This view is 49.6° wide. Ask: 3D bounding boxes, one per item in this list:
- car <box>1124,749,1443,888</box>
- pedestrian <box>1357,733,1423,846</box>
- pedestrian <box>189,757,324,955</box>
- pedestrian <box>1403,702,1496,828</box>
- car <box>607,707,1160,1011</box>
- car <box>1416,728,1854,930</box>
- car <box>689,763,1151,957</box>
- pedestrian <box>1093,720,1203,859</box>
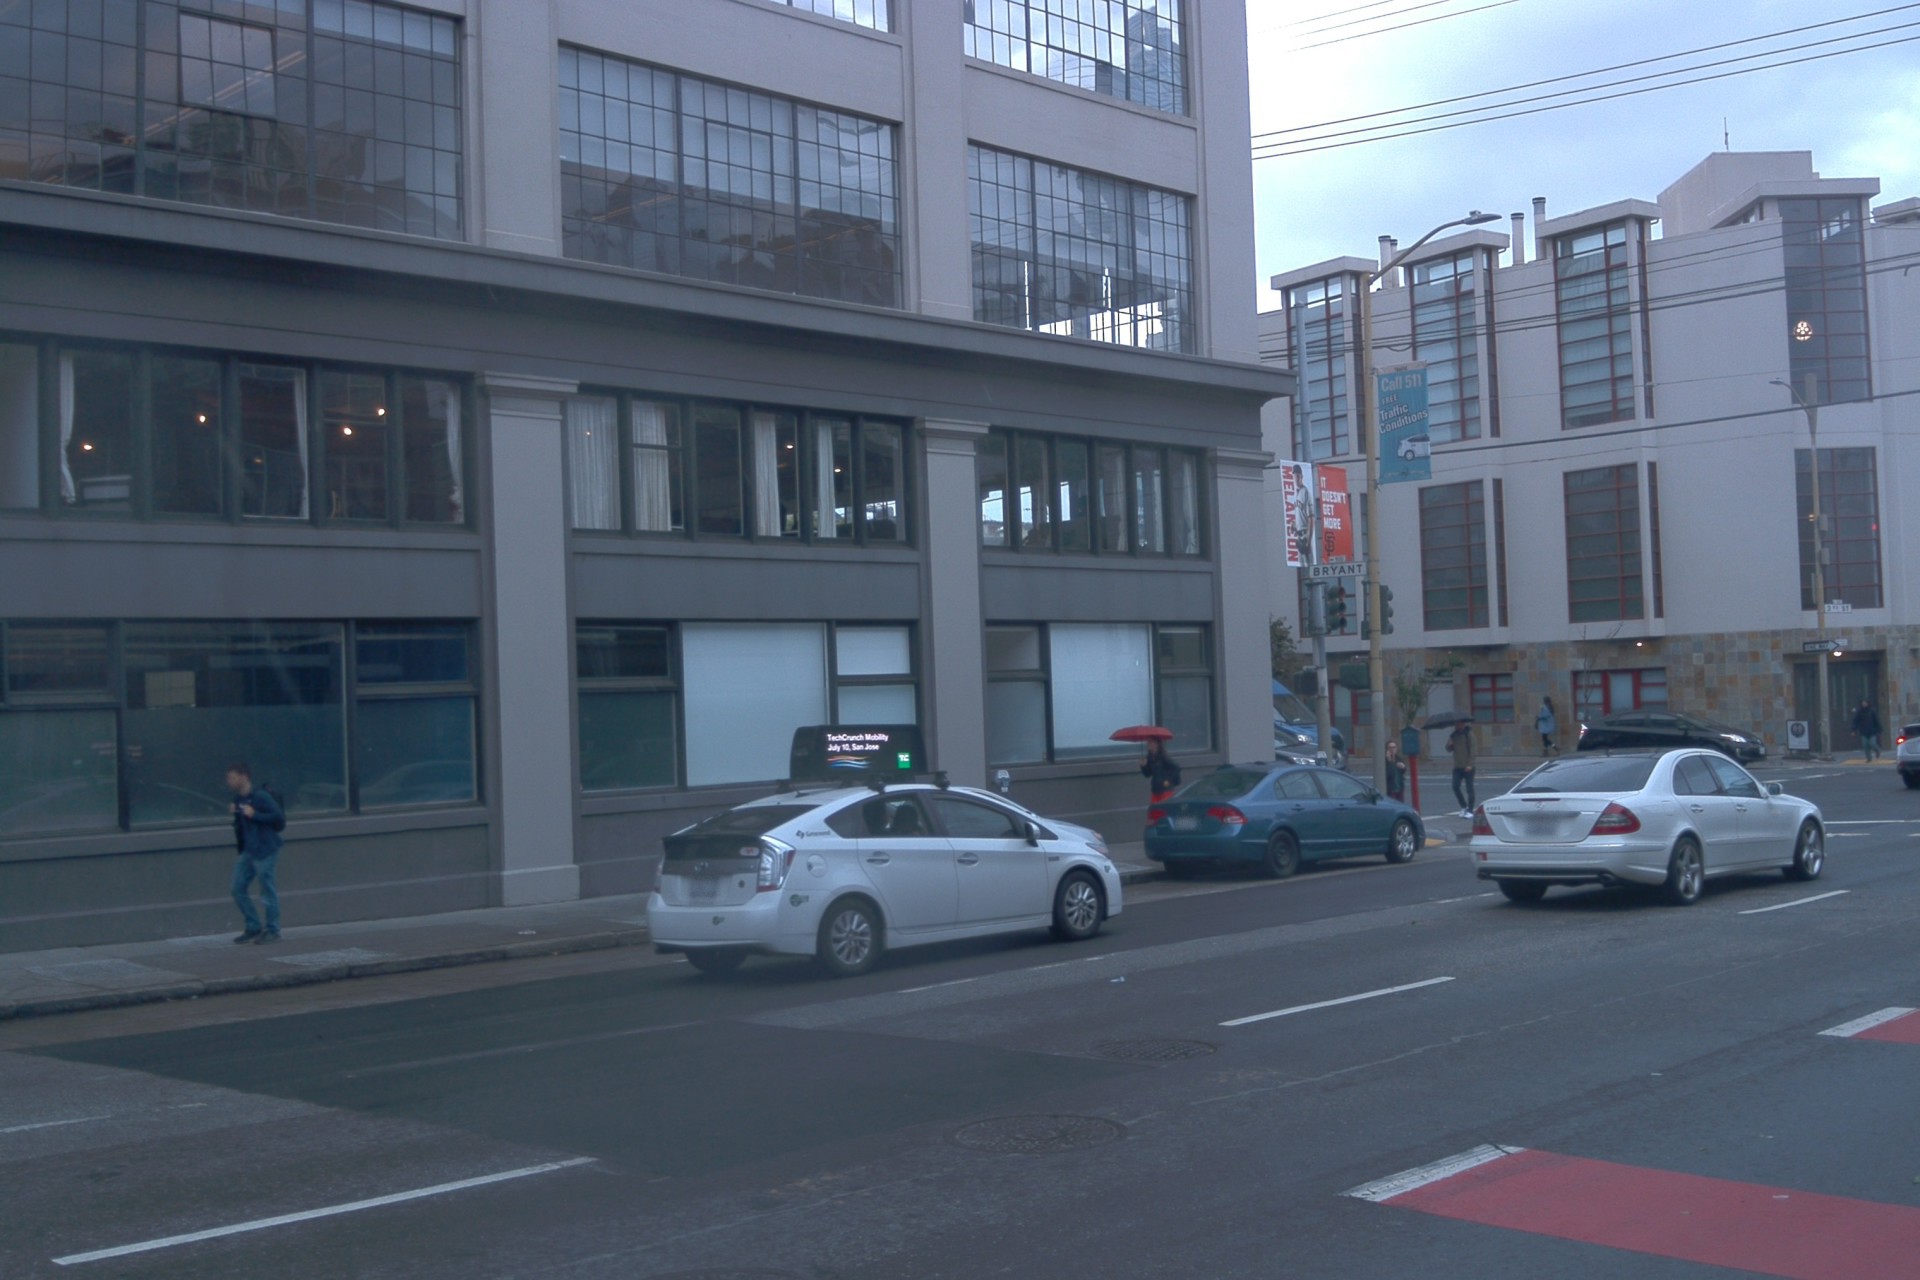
[{"bbox_3d":[4.306,2.264,27.260,1.913,1.440,4.430,0,0,44],"label":"car"},{"bbox_3d":[6.600,2.285,31.900,0.825,1.670,0.591,0,0,-34],"label":"pedestrian"},{"bbox_3d":[-6.765,2.046,20.007,0.826,1.770,0.960,0,0,45],"label":"pedestrian"},{"bbox_3d":[8.605,2.167,36.527,1.190,2.110,1.132,0,0,-45],"label":"pedestrian"},{"bbox_3d":[-0.518,1.691,17.692,2.037,2.090,4.605,0,0,43],"label":"car"},{"bbox_3d":[6.768,1.742,20.501,2.136,1.530,5.039,0,0,44],"label":"car"},{"bbox_3d":[-0.309,2.261,22.443,2.014,1.570,4.989,0,0,45],"label":"car"},{"bbox_3d":[2.739,2.150,30.272,1.124,1.900,1.157,0,0,45],"label":"pedestrian"}]
